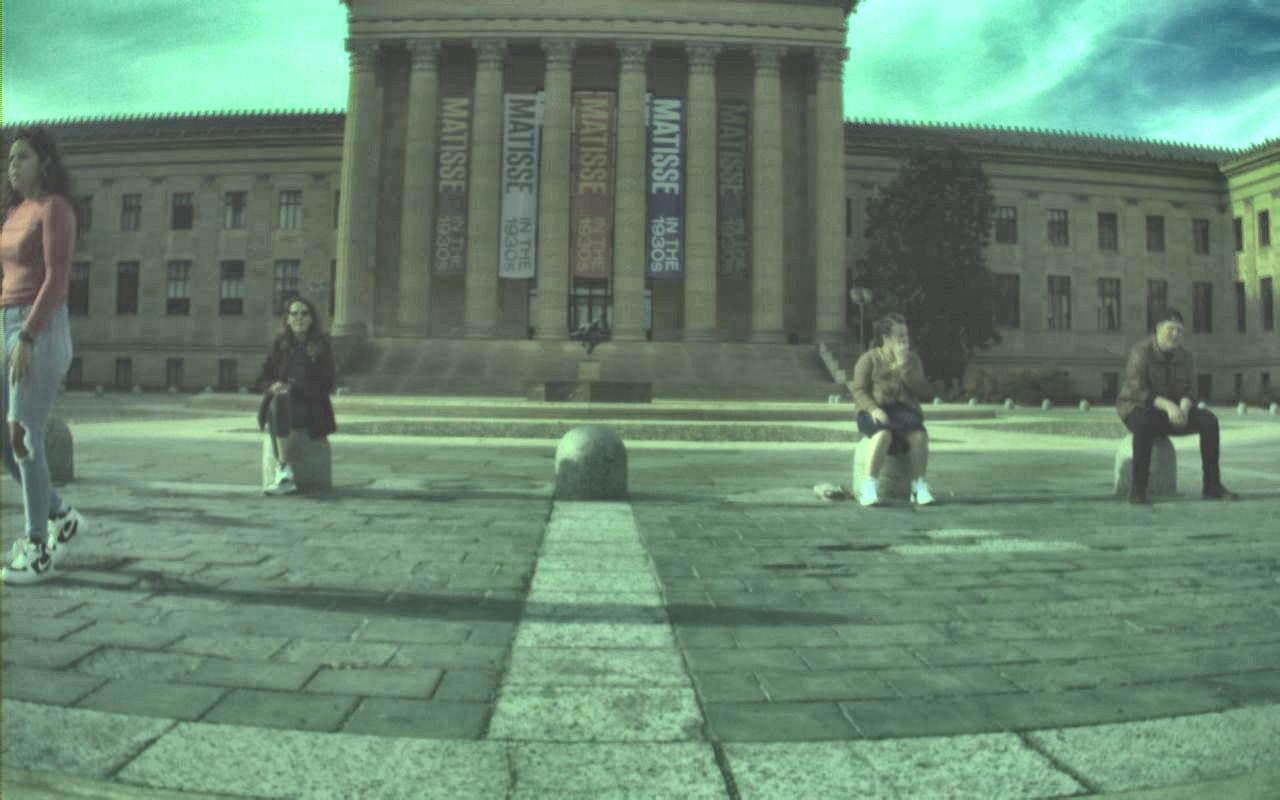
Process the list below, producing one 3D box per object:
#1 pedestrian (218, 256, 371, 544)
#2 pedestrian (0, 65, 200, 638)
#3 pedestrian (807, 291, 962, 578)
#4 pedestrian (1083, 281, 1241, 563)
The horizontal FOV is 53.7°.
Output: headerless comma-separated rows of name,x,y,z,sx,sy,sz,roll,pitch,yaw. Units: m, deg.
pedestrian,-2.192,-0.005,7.732,0.776,1.727,0.770,0,0,6
pedestrian,-2.108,-0.155,3.956,0.797,1.785,0.828,1,0,17
pedestrian,1.580,0.200,7.924,0.819,1.730,0.820,1,0,24
pedestrian,3.496,0.151,7.868,0.847,1.785,0.852,0,0,2
